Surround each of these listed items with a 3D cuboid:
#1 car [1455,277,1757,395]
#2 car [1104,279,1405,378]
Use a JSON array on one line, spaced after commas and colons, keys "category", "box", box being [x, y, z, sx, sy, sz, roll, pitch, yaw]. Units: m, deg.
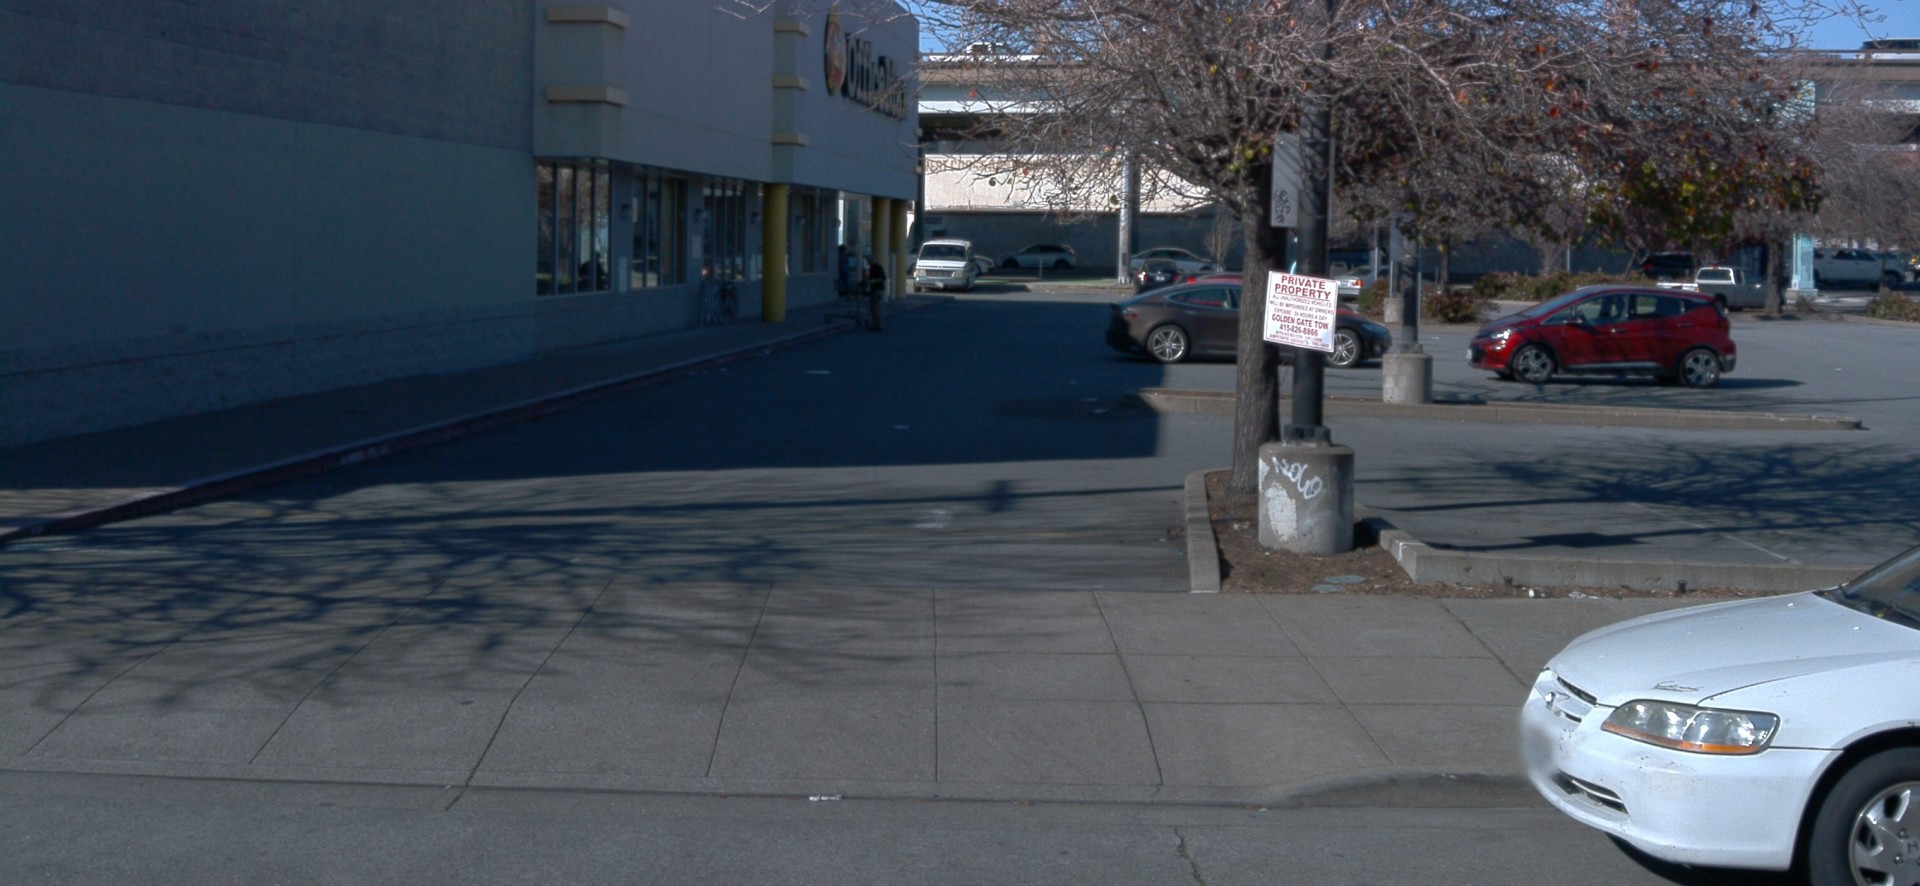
[{"category": "car", "box": [10.201, -1.733, 32.735, 4.156, 1.695, 2.038, 1, 4, 2]}, {"category": "car", "box": [5.061, -2.032, 35.895, 5.044, 1.525, 1.995, 1, 4, 5]}]
